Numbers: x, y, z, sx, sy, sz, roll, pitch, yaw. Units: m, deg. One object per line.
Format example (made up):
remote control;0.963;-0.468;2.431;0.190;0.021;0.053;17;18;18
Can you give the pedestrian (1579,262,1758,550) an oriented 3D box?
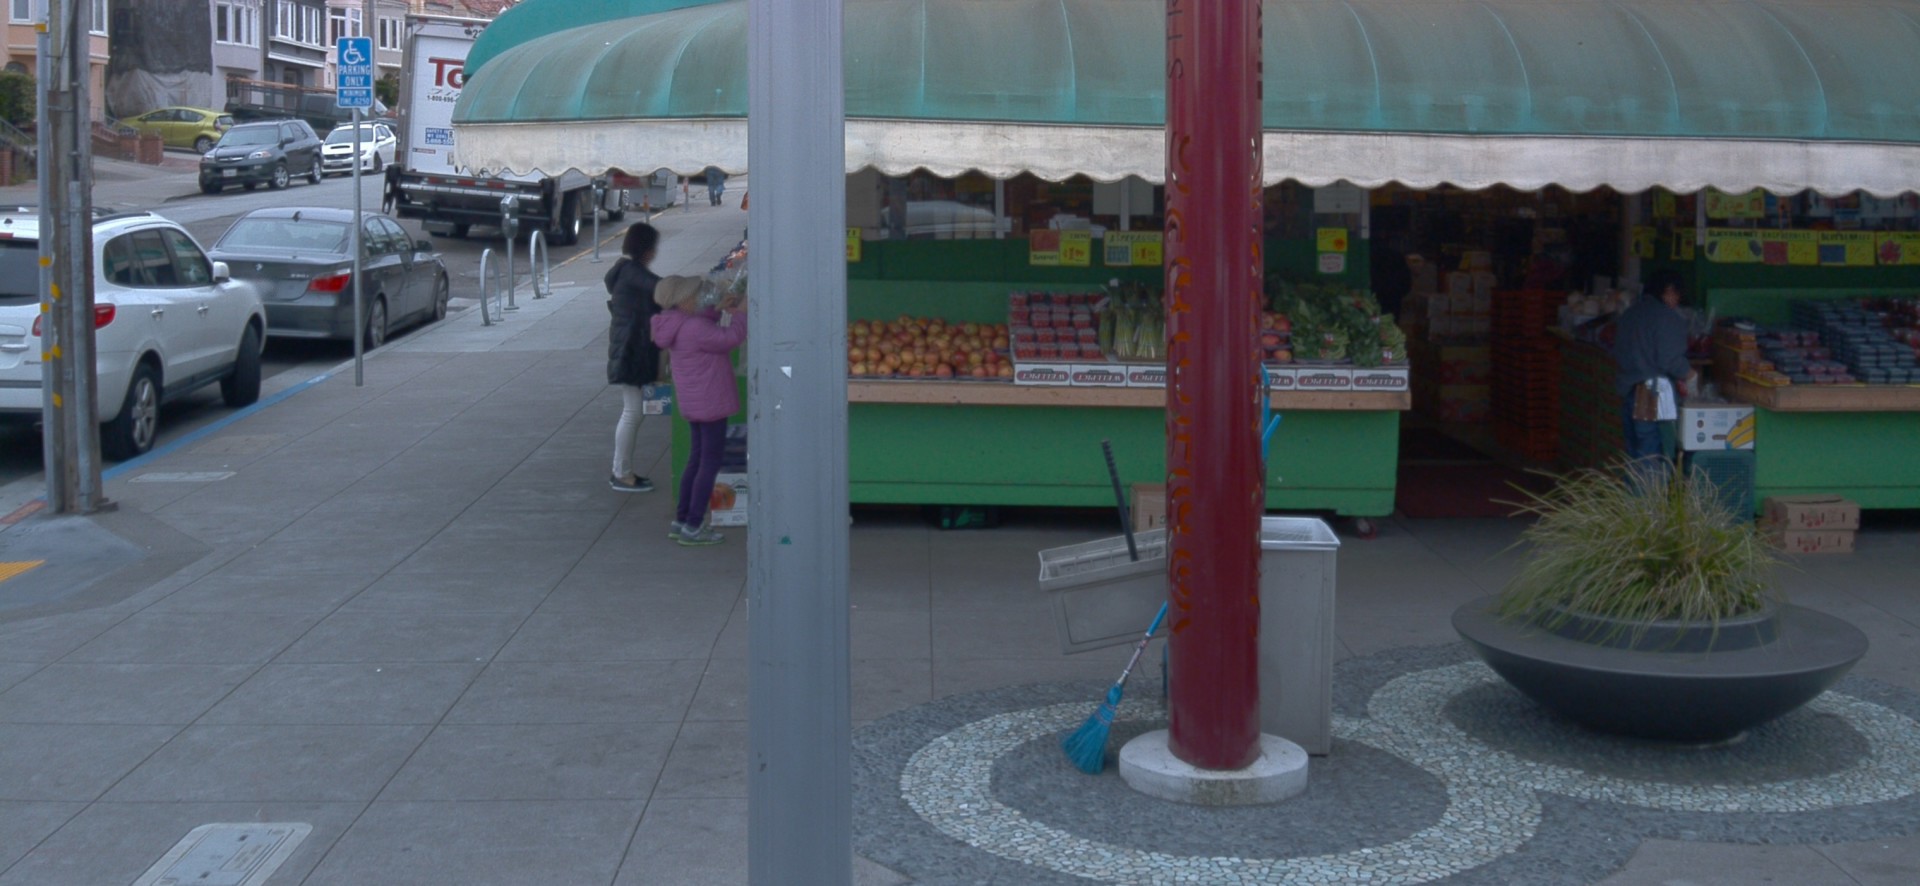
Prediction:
pedestrian;3.981;-0.235;11.610;0.743;1.557;0.755;0;2;0

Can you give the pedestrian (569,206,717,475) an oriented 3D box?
pedestrian;-1.978;-0.665;12.786;0.796;1.607;0.823;-1;2;-17

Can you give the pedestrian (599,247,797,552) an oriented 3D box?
pedestrian;-1.421;-0.274;11.167;0.798;1.564;0.705;-2;3;-44

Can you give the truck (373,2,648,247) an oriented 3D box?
truck;-7.711;-5.454;36.850;2.914;3.770;10.115;0;5;-1

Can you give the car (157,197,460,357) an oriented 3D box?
car;-6.764;-1.829;21.915;1.969;1.513;4.609;0;6;-3
